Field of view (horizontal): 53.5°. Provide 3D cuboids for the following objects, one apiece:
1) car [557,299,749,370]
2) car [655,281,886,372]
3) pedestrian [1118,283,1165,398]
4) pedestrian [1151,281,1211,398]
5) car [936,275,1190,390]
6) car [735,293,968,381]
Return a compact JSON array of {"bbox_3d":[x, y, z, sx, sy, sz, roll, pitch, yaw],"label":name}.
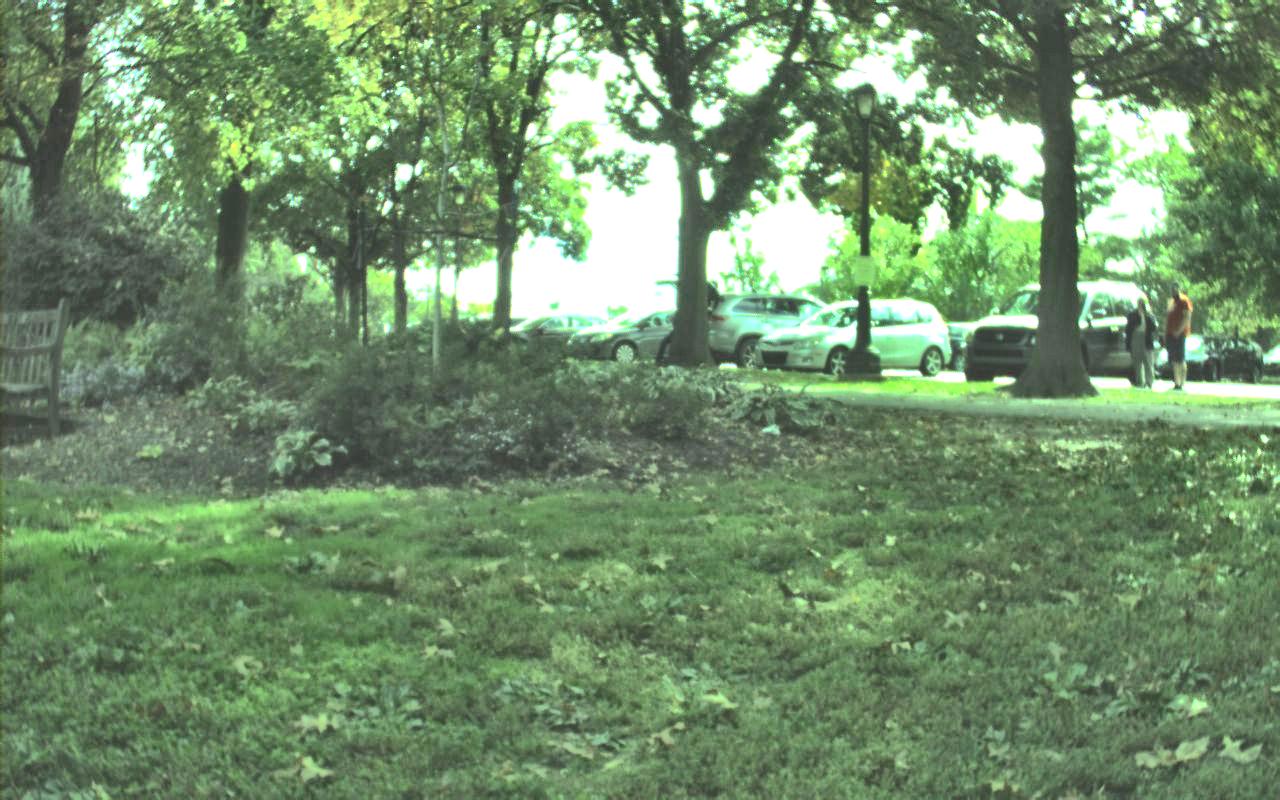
[{"bbox_3d":[0.350,-1.568,31.401,4.415,1.605,1.948,0,1,-32],"label":"car"},{"bbox_3d":[2.809,-1.497,26.829,4.573,1.771,1.982,0,1,-26],"label":"car"},{"bbox_3d":[8.052,-0.913,19.101,0.771,1.815,0.759,1,0,20],"label":"pedestrian"},{"bbox_3d":[8.827,-0.934,19.133,0.759,1.869,0.766,0,0,-34],"label":"pedestrian"},{"bbox_3d":[7.051,-1.001,19.783,4.577,1.657,2.005,0,1,-34],"label":"car"},{"bbox_3d":[4.210,-1.151,24.518,4.559,1.567,1.932,0,1,-35],"label":"car"}]
